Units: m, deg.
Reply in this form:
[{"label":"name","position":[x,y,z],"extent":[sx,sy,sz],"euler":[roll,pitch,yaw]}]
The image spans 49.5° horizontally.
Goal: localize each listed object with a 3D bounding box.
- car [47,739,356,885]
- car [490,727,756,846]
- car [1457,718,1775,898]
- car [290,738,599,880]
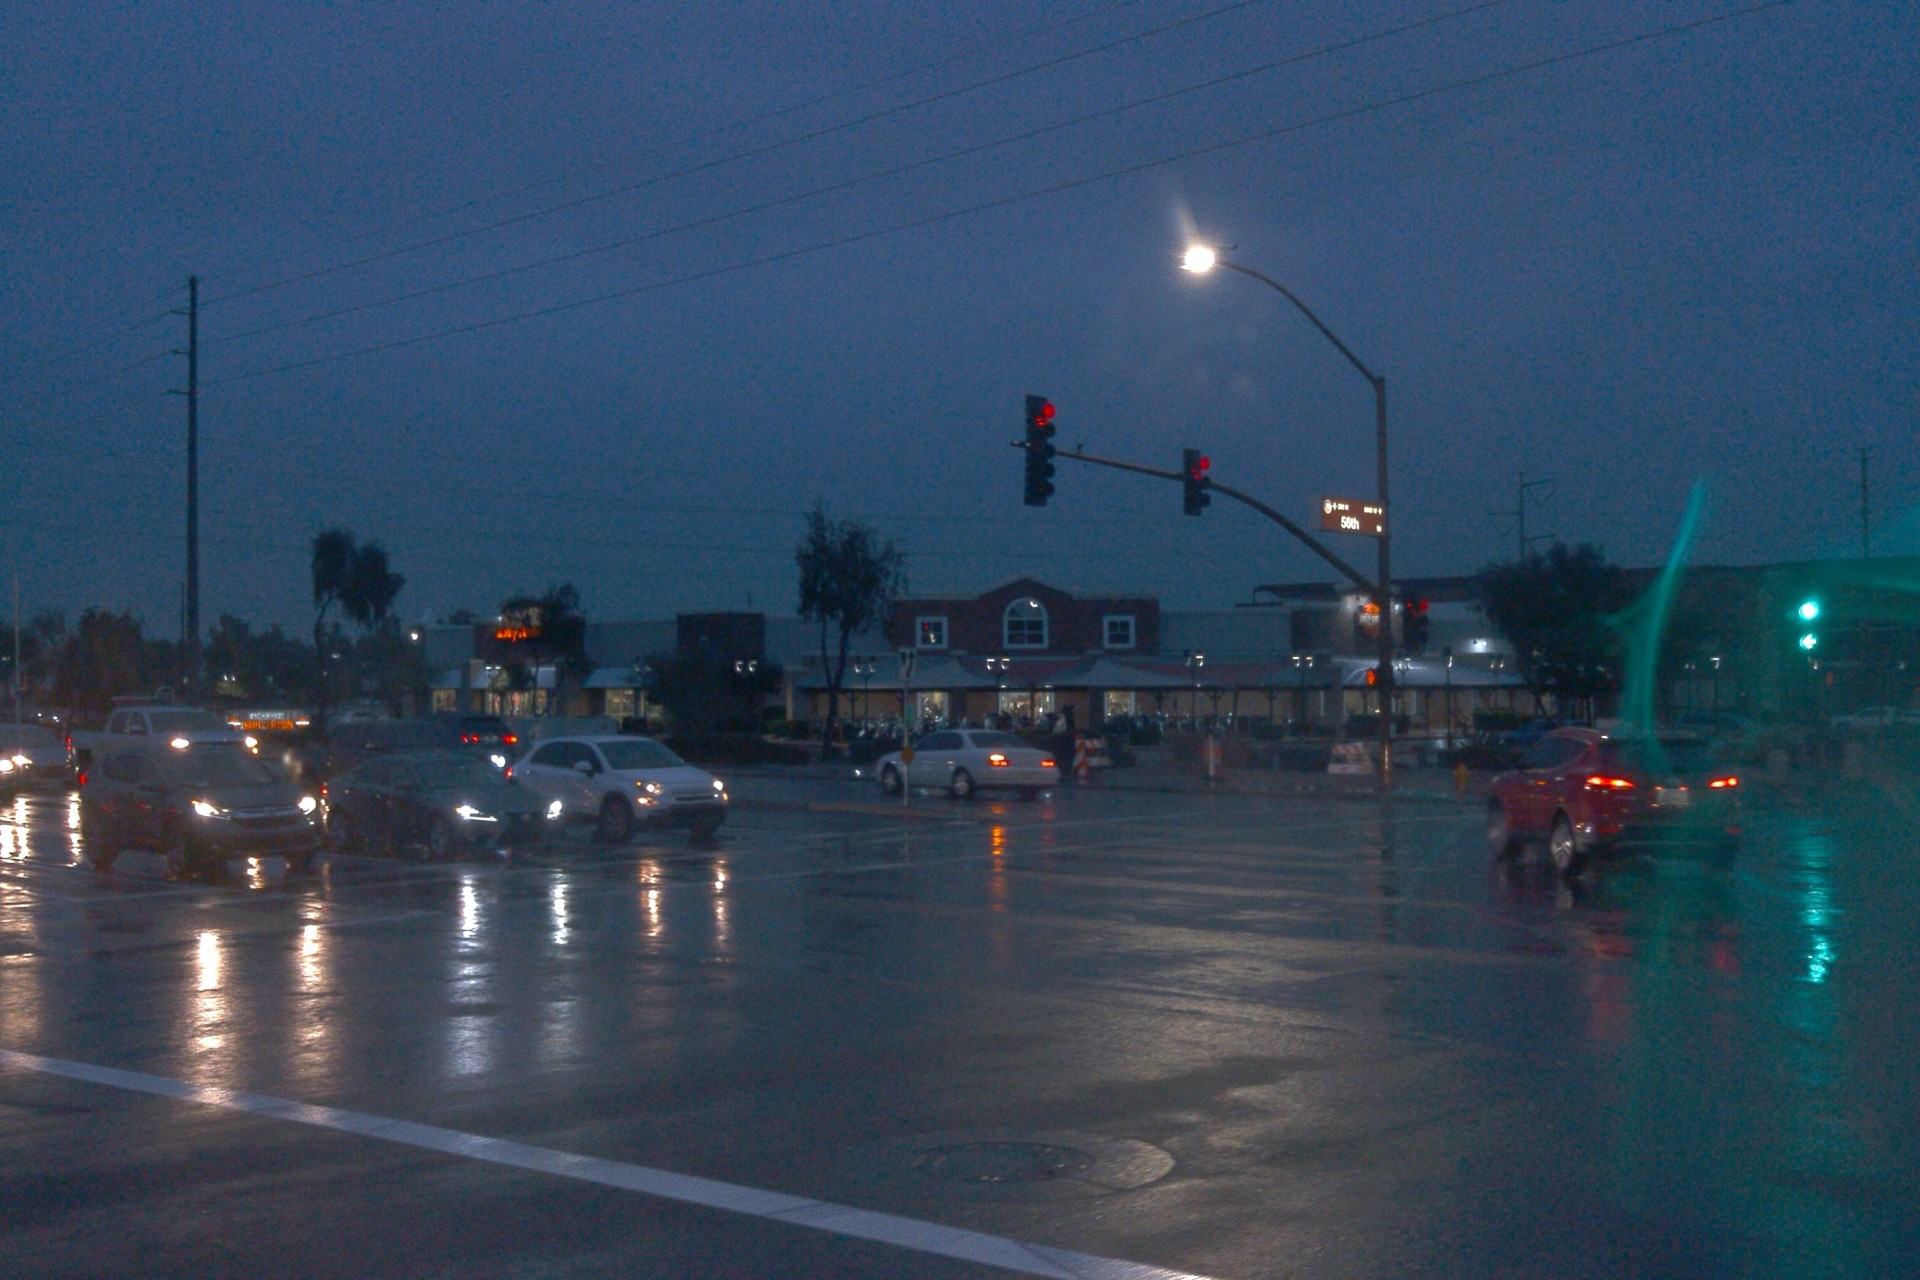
[{"label":"car","position":[-10.438,2.272,28.524],"extent":[4.544,1.660,2.258],"euler":[-1,-1,45]},{"label":"car","position":[-5.377,2.254,32.973],"extent":[2.095,1.630,4.278],"euler":[1,-1,-44]},{"label":"car","position":[7.671,1.906,24.931],"extent":[2.259,1.820,4.677],"euler":[0,-1,-1]},{"label":"car","position":[-7.587,2.385,30.429],"extent":[4.666,1.730,2.267],"euler":[-1,-1,45]}]
